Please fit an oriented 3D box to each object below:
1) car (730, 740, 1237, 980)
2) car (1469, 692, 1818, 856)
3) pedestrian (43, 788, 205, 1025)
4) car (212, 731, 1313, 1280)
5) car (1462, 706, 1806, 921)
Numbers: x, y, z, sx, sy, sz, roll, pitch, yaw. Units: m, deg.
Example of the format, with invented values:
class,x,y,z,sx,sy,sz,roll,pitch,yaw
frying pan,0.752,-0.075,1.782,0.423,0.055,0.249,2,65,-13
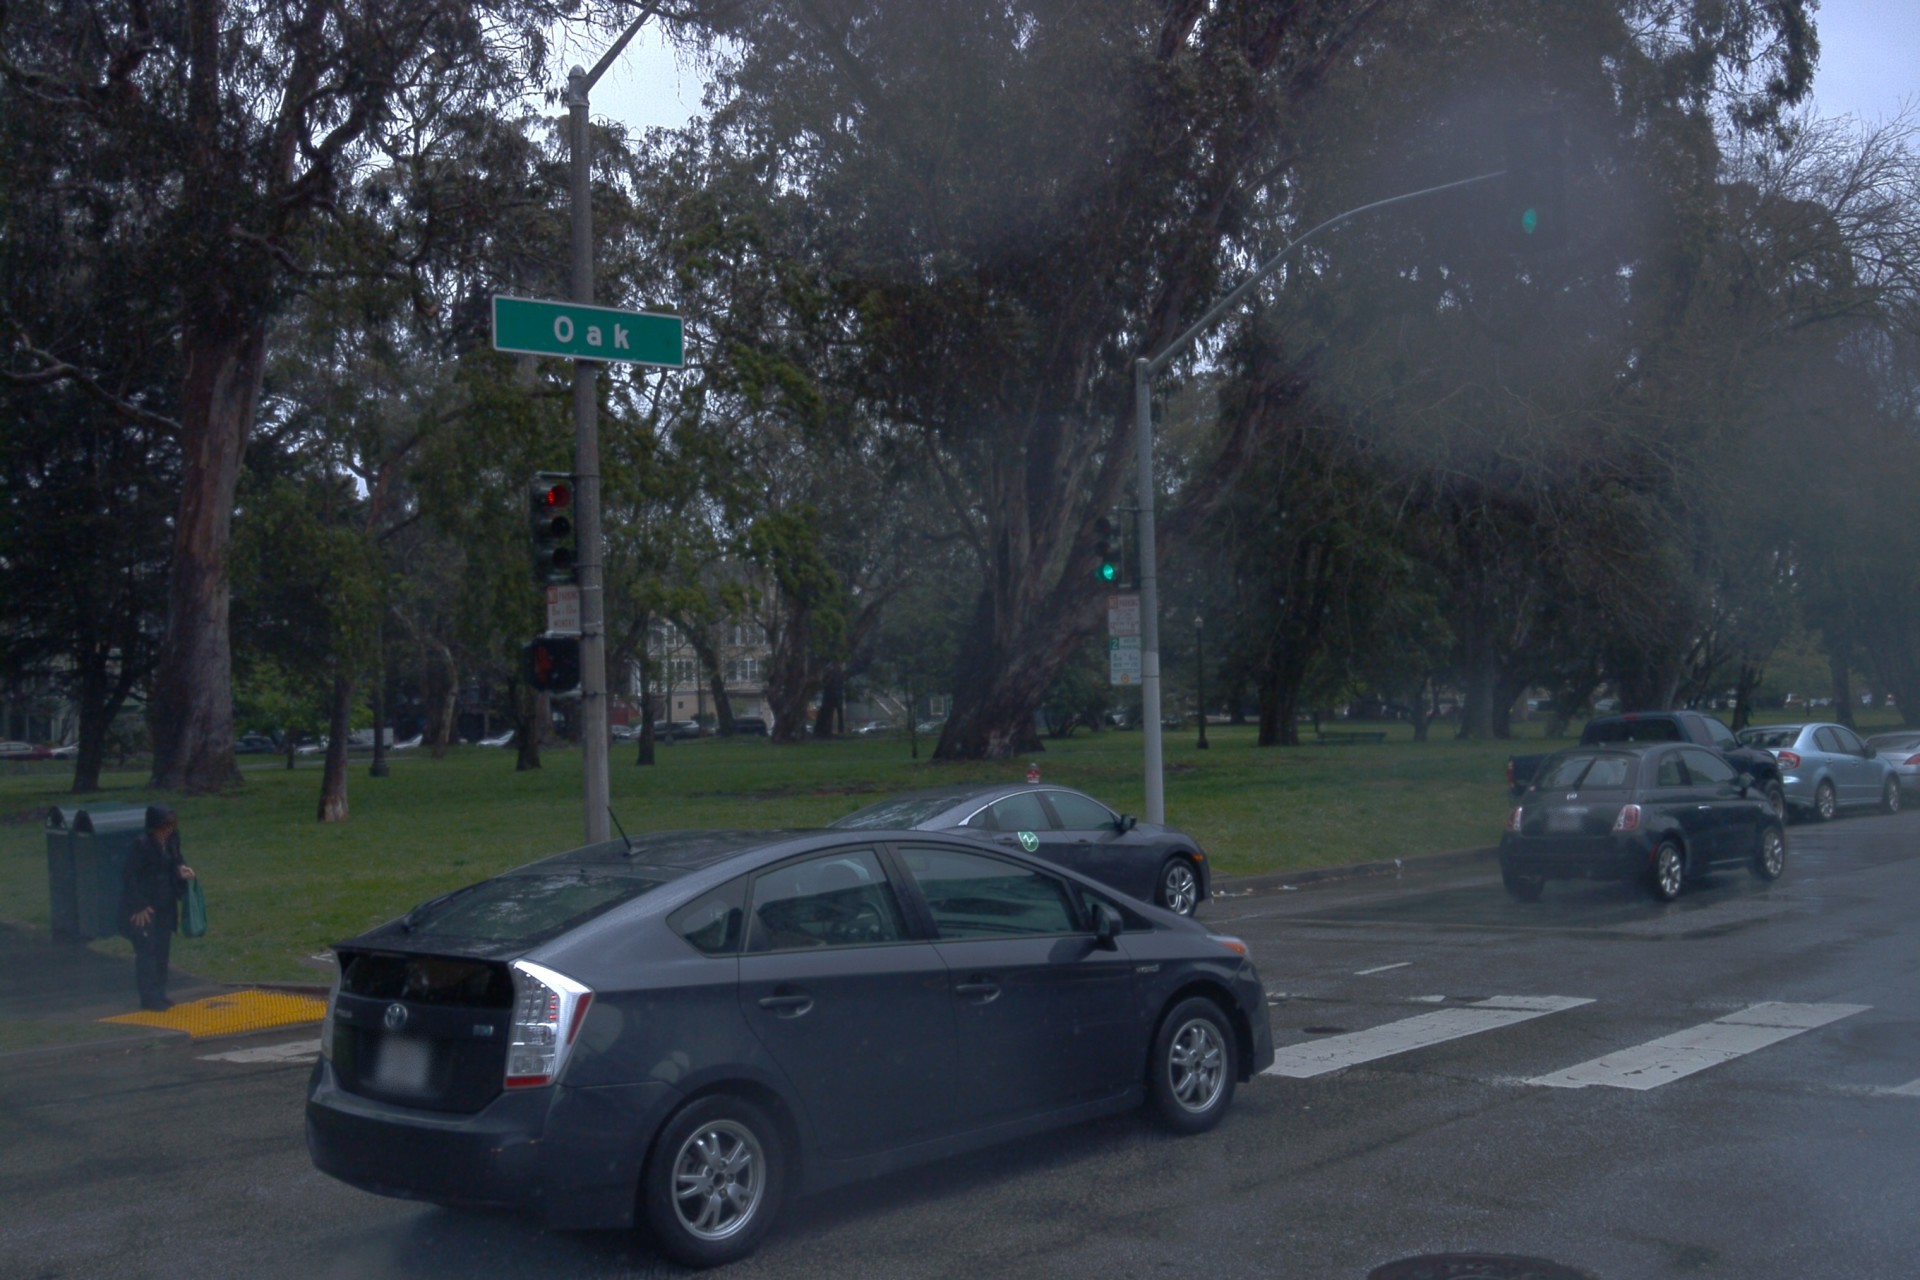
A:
class,x,y,z,sx,sy,sz,roll,pitch,yaw
car,0.336,1.830,18.348,2.031,1.540,4.554,1,2,42
car,9.359,1.704,27.795,2.407,1.750,5.463,1,2,43
pedestrian,-6.066,1.904,14.895,0.722,1.560,0.835,1,2,40
car,-0.590,1.359,8.584,4.362,1.670,1.894,-1,2,-45
car,6.651,1.598,20.078,1.794,1.715,3.581,1,2,44
